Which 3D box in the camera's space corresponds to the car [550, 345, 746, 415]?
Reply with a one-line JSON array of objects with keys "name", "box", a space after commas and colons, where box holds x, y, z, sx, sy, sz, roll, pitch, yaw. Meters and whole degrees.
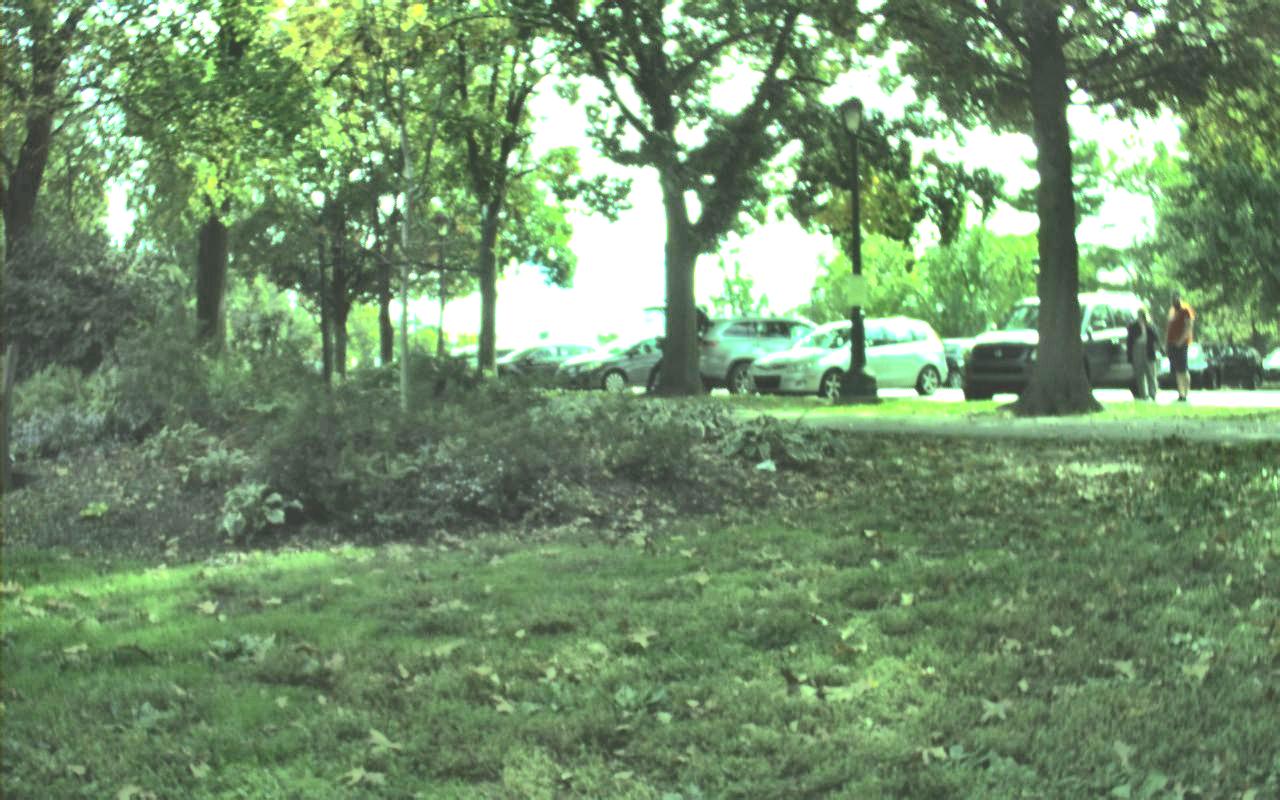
[{"name": "car", "box": [0.223, -0.490, 30.877, 4.415, 1.605, 1.948, 0, 1, -32]}]

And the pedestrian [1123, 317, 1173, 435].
[{"name": "pedestrian", "box": [7.956, -0.339, 18.592, 0.771, 1.815, 0.759, 1, 0, 20]}]

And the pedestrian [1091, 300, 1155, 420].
[{"name": "pedestrian", "box": [7.561, -0.595, 18.719, 0.755, 1.827, 0.733, 0, 0, -22]}]

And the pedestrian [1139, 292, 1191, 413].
[{"name": "pedestrian", "box": [8.312, -0.710, 18.708, 0.812, 1.873, 0.799, 1, 0, 20]}]

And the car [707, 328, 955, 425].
[{"name": "car", "box": [3.738, -0.446, 24.002, 4.702, 1.673, 1.991, 0, 1, -36]}]

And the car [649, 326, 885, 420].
[{"name": "car", "box": [2.691, -0.548, 26.314, 4.585, 1.796, 1.995, 0, 1, -27]}]

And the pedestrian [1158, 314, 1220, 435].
[{"name": "pedestrian", "box": [8.730, -0.369, 18.626, 0.759, 1.869, 0.766, 0, 0, -34]}]

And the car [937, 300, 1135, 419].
[{"name": "car", "box": [6.502, -0.611, 19.526, 1.980, 1.678, 4.567, 1, 1, 36]}]
